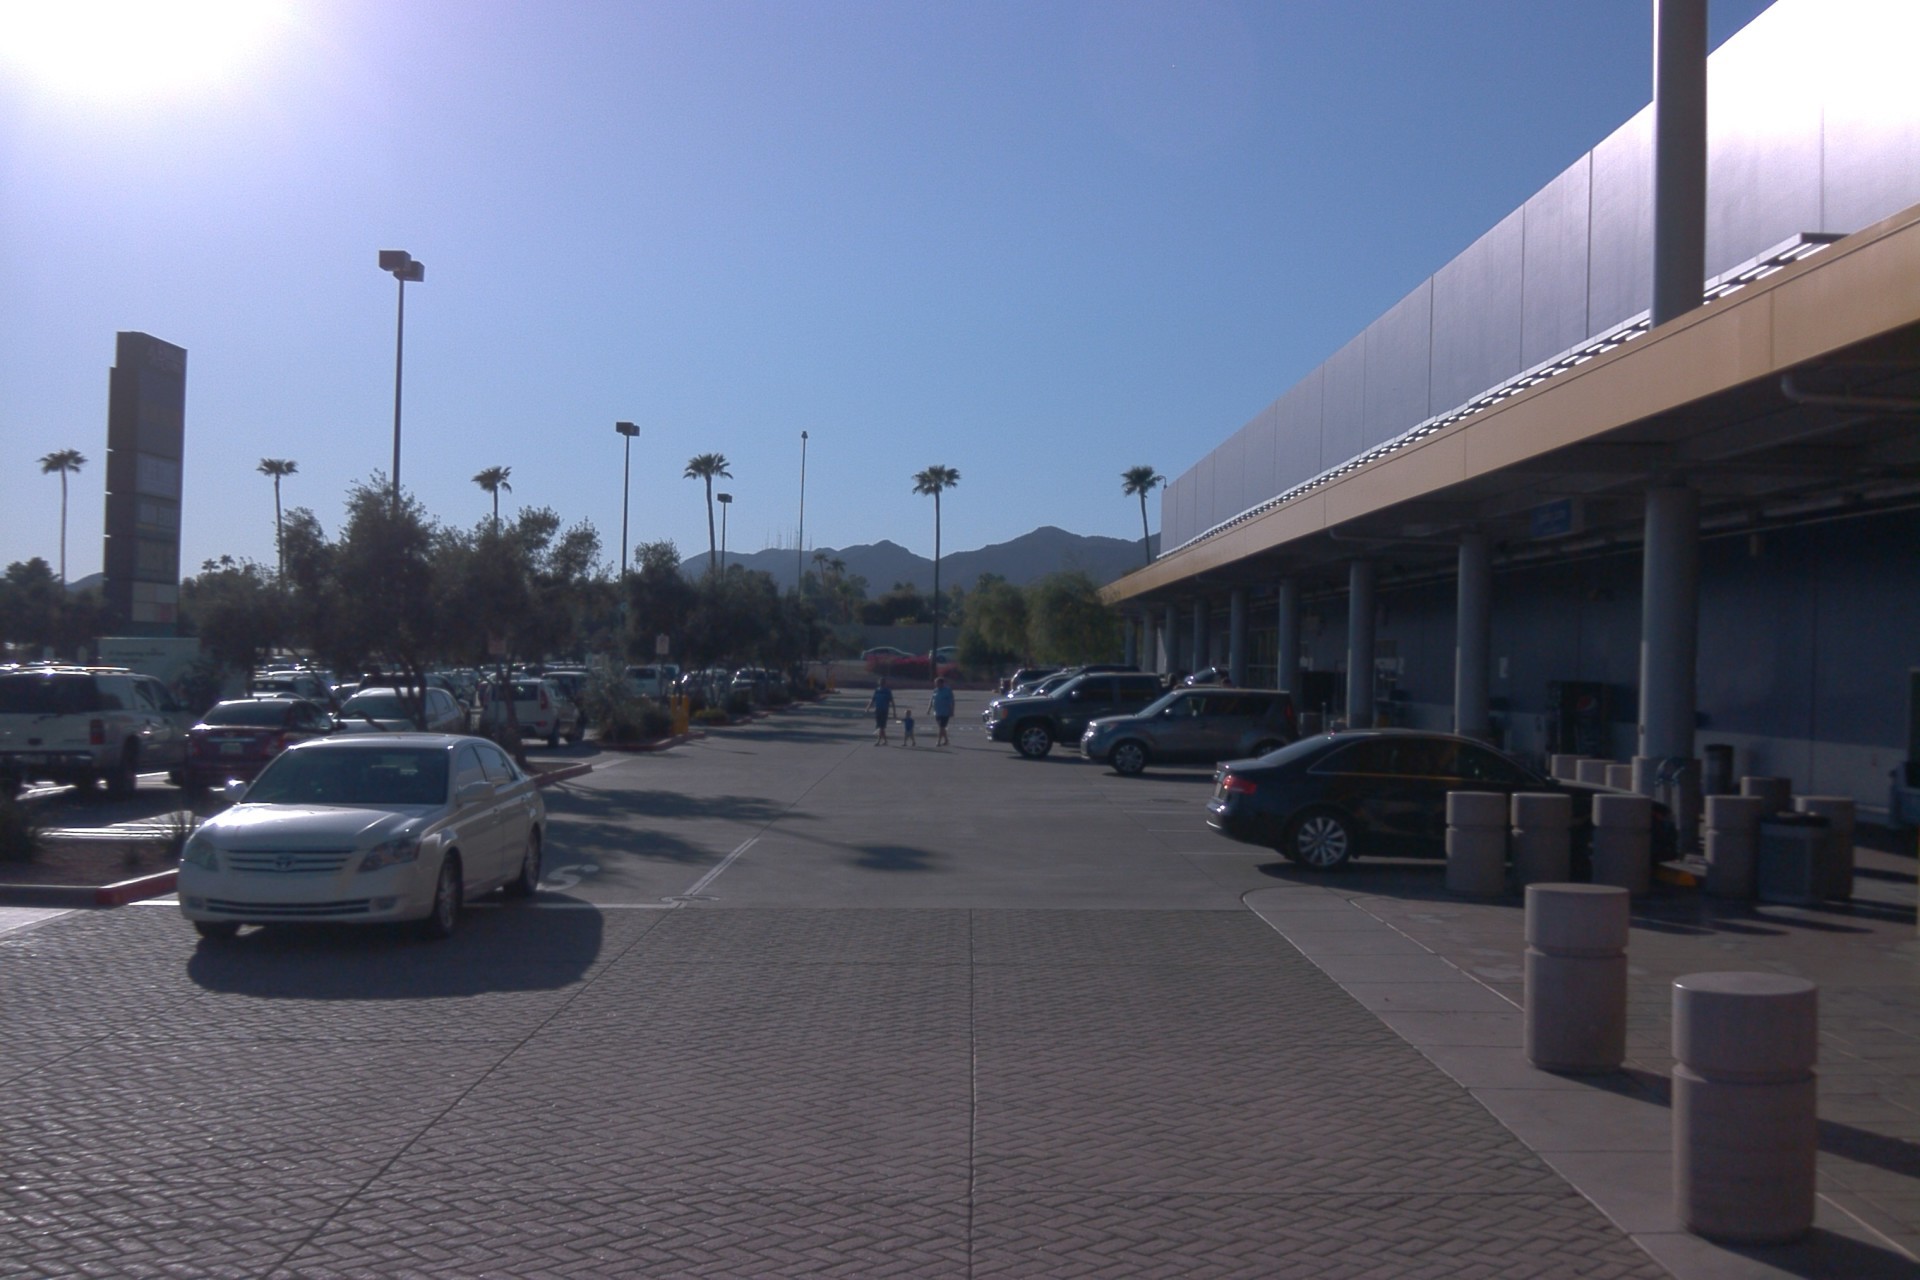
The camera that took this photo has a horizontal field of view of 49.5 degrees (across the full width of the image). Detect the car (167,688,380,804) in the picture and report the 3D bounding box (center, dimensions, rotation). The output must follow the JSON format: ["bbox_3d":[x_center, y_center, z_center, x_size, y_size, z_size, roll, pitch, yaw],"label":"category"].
[{"bbox_3d":[-10.427,1.562,31.928,1.866,1.580,4.286,1,0,0],"label":"car"}]

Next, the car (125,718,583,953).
[{"bbox_3d":[-4.579,1.424,16.661,2.148,1.440,4.950,1,-1,1],"label":"car"}]

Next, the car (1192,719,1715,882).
[{"bbox_3d":[4.881,1.593,21.141,4.792,1.460,2.078,1,0,0],"label":"car"}]
